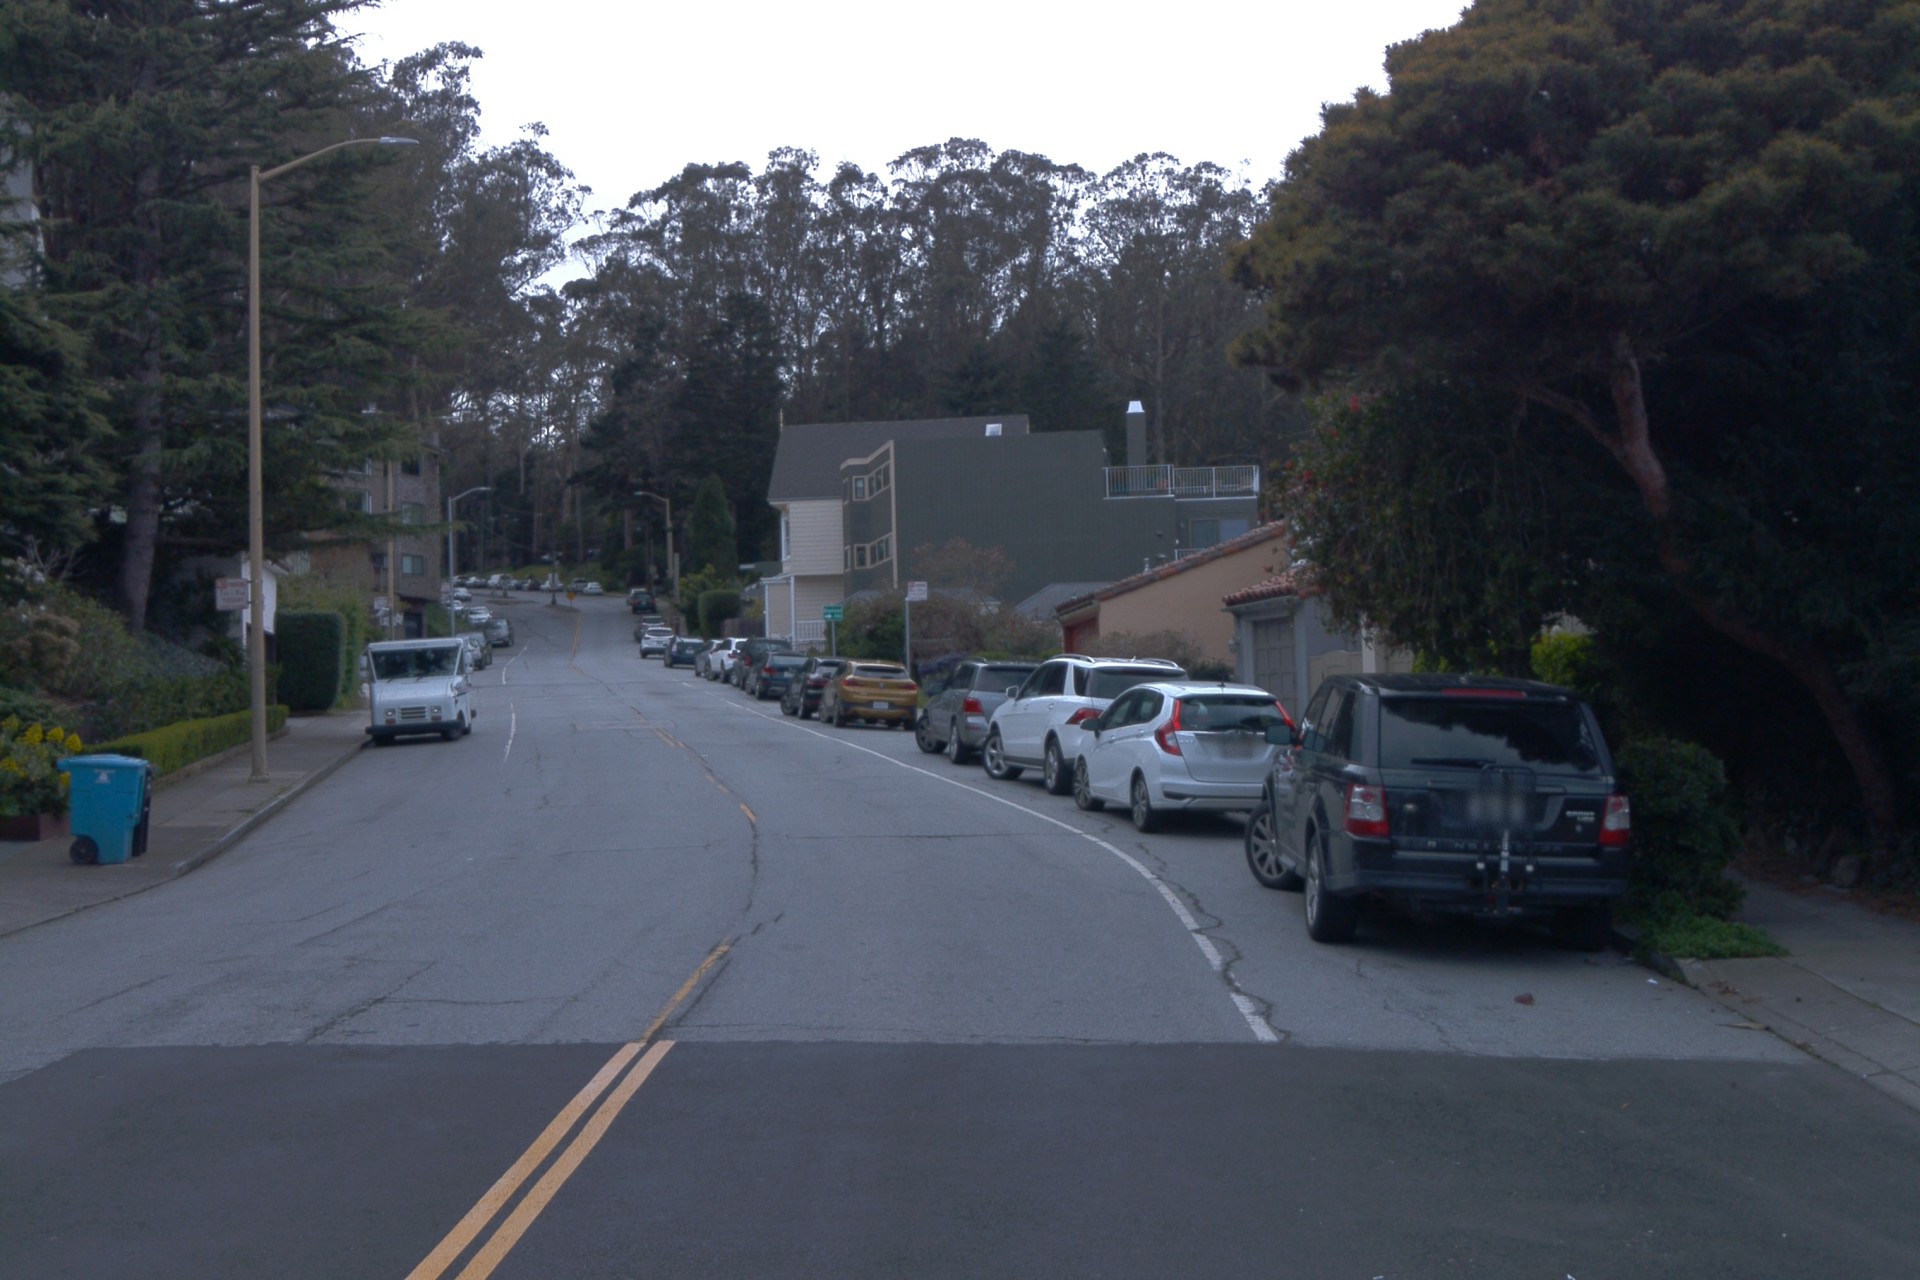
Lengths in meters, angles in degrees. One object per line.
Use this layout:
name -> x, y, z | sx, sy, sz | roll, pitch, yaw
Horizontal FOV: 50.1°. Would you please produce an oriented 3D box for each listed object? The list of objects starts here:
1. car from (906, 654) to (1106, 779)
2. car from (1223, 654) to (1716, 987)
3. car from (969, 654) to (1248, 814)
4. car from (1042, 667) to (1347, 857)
car -> 0.638, 1.160, 33.202 | 2.239, 1.750, 4.797 | 0, 1, -11
car -> 3.339, 1.085, 14.701 | 2.331, 1.870, 5.066 | 0, 1, 1
car -> 1.809, 1.137, 27.105 | 2.277, 1.800, 4.977 | 0, 1, -13
car -> 2.383, 1.208, 22.115 | 2.028, 1.720, 4.269 | 0, 1, -11
